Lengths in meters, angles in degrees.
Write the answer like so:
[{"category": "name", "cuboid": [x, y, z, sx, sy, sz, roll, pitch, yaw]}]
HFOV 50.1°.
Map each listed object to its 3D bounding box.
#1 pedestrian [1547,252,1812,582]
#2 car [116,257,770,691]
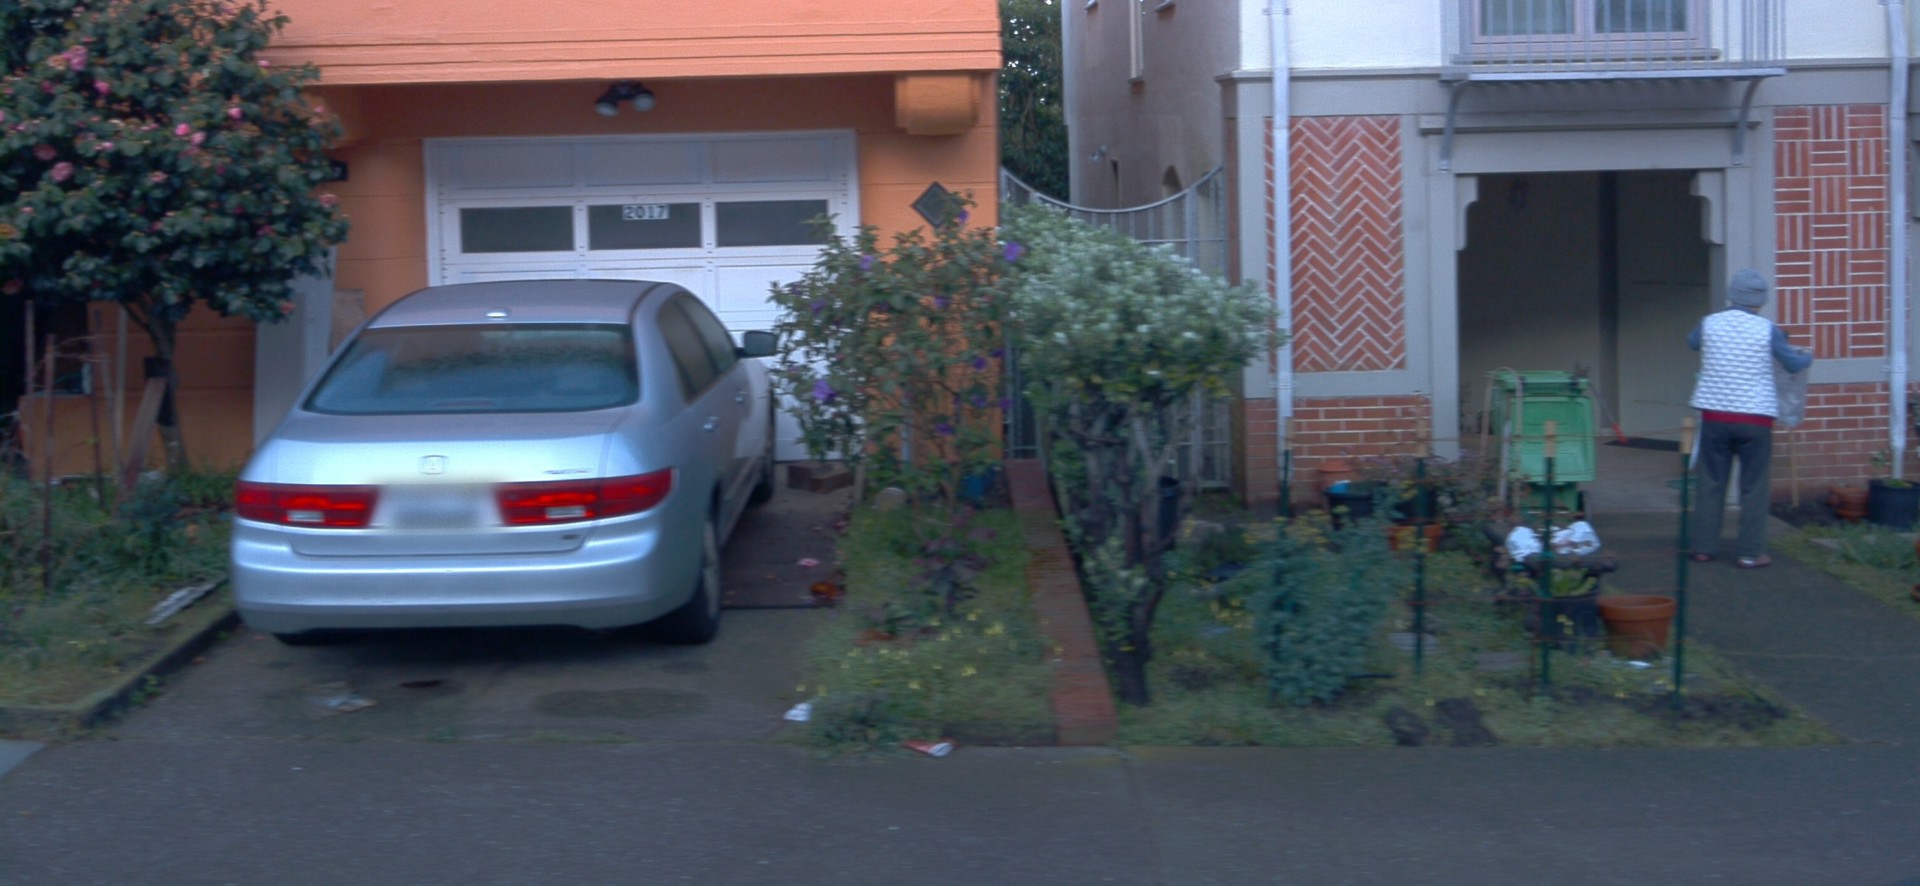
[{"category": "pedestrian", "cuboid": [3.852, -0.204, 10.957, 1.013, 1.618, 1.224, 2, 3, 36]}, {"category": "car", "cuboid": [-2.128, -0.094, 9.902, 1.959, 1.533, 4.621, 0, 5, 0]}]
